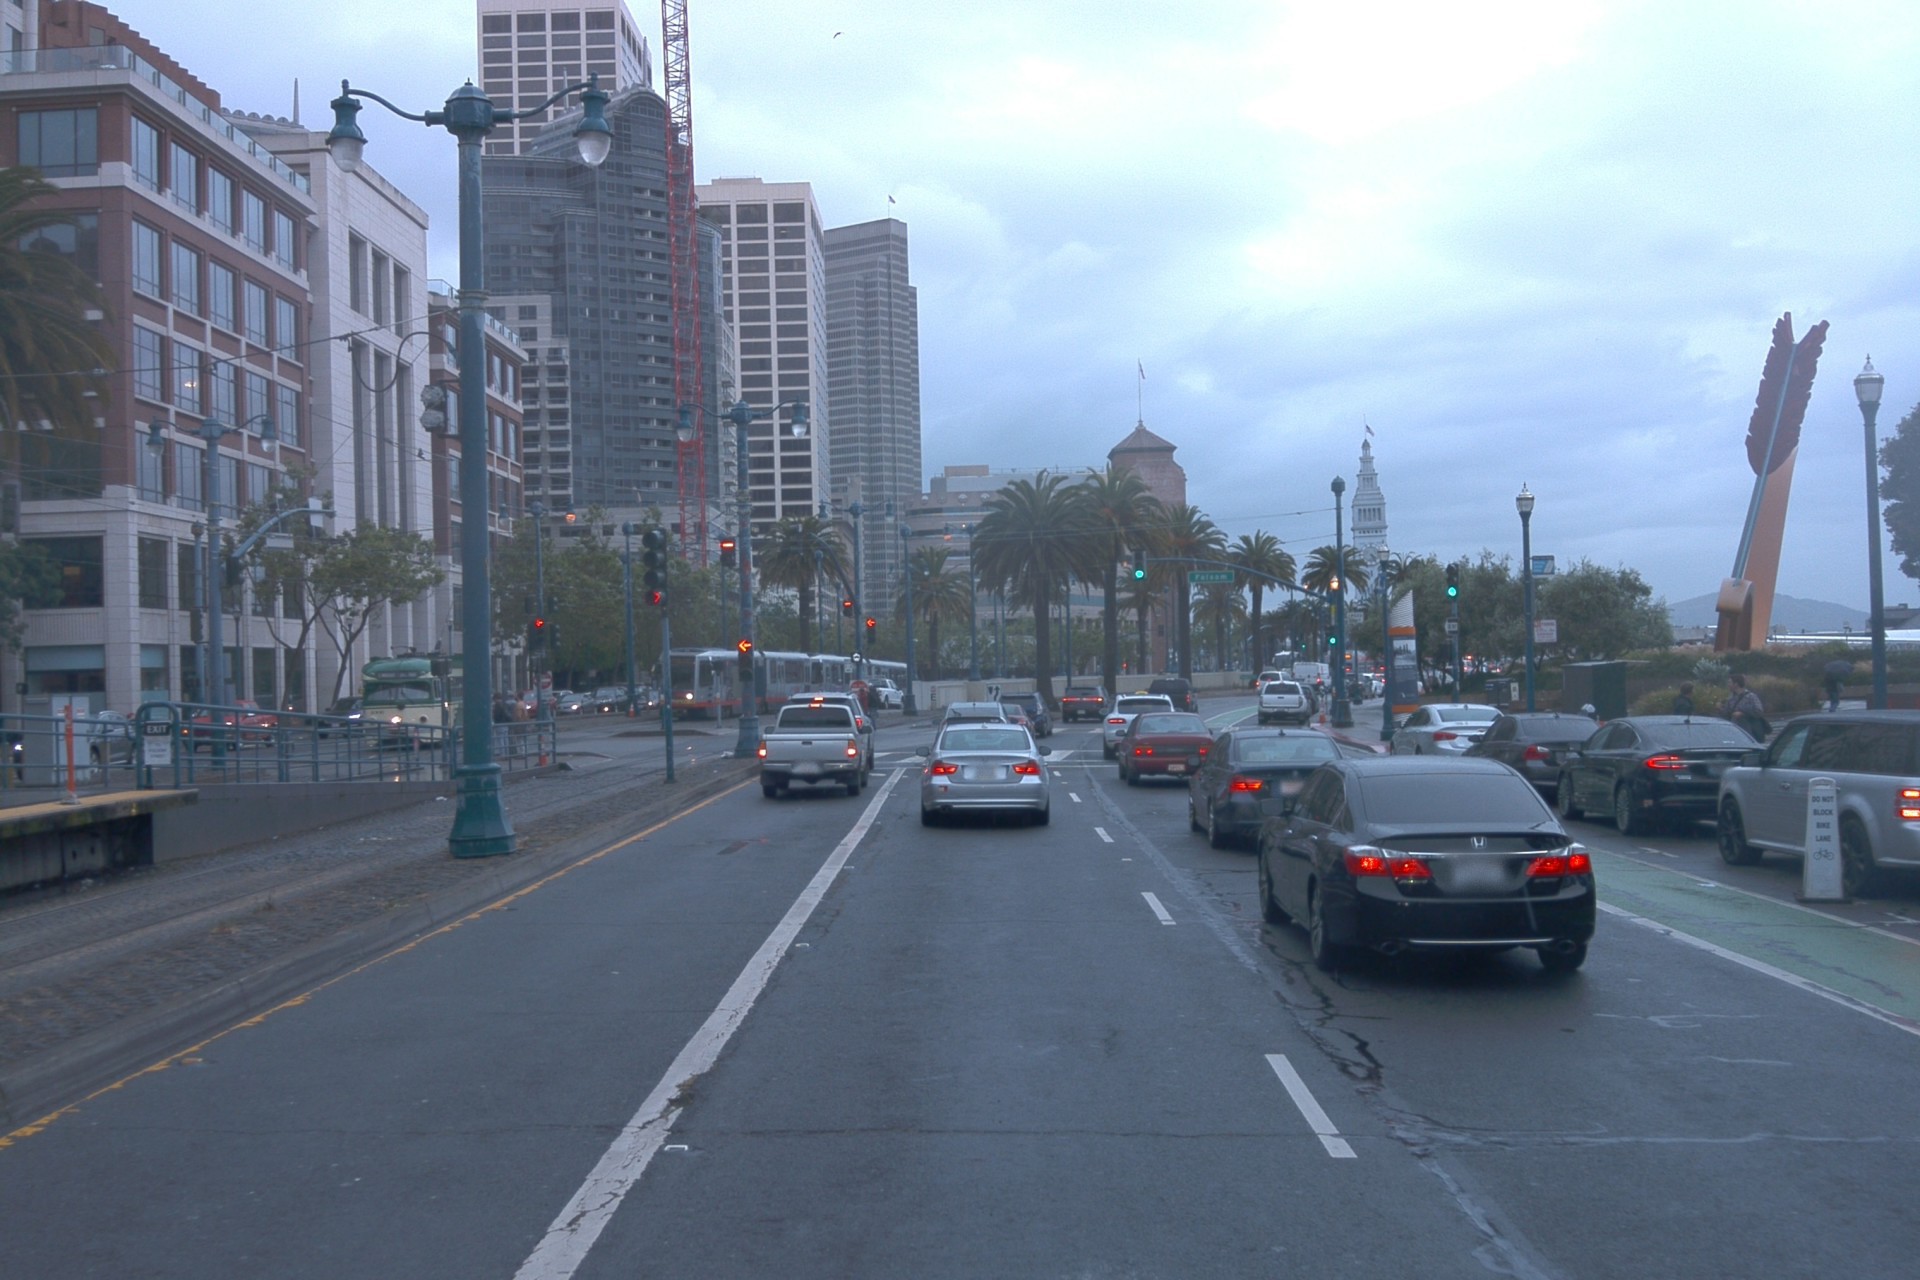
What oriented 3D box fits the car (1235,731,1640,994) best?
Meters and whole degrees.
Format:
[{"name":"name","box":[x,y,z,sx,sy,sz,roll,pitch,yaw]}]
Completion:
[{"name":"car","box":[3.355,1.526,15.564,2.069,1.540,4.627,0,-1,1]}]

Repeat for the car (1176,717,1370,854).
[{"name":"car","box":[3.791,1.738,25.793,1.869,1.450,4.344,0,-1,2]}]

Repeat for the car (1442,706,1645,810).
[{"name":"car","box":[9.373,1.858,33.704,2.078,1.500,4.502,0,-1,1]}]

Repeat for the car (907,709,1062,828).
[{"name":"car","box":[0.351,1.796,30.049,2.067,1.510,4.625,0,-1,1]}]

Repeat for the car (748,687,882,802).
[{"name":"car","box":[-2.521,1.803,37.061,2.053,1.860,4.771,0,-1,0]}]

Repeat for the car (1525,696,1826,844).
[{"name":"car","box":[9.224,1.622,27.231,2.329,1.710,4.832,0,-1,1]}]

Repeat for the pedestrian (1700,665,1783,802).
[{"name":"pedestrian","box":[11.974,1.412,31.806,1.056,2.050,1.162,0,-1,14]}]
